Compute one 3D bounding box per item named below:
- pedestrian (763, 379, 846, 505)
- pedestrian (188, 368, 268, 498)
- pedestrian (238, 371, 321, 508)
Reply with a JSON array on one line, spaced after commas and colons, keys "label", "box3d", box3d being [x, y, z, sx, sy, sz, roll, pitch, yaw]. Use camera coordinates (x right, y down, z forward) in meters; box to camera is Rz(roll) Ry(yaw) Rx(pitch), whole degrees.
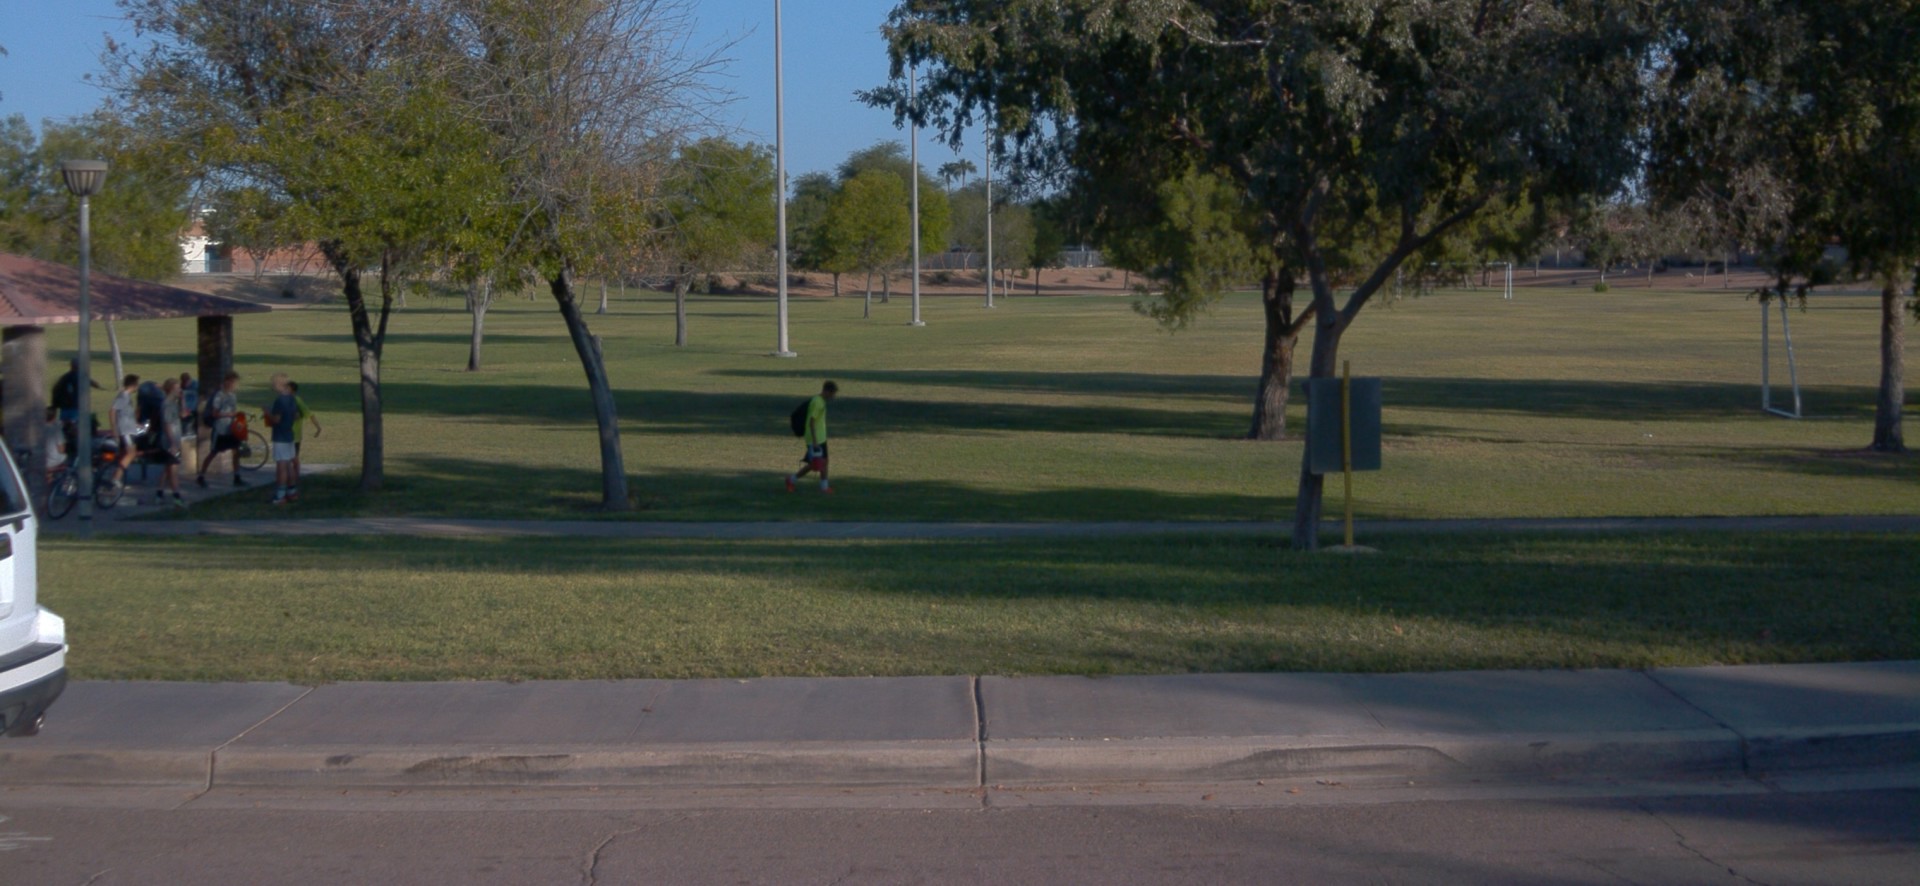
[{"label": "pedestrian", "box3d": [-2.183, -0.031, 29.362, 0.950, 1.668, 0.864, 0, 2, 11]}, {"label": "pedestrian", "box3d": [-10.711, -0.159, 30.509, 0.878, 1.818, 0.801, 0, 2, -1]}, {"label": "pedestrian", "box3d": [-9.478, -0.072, 29.029, 0.682, 1.798, 0.840, 0, 2, 25]}]
